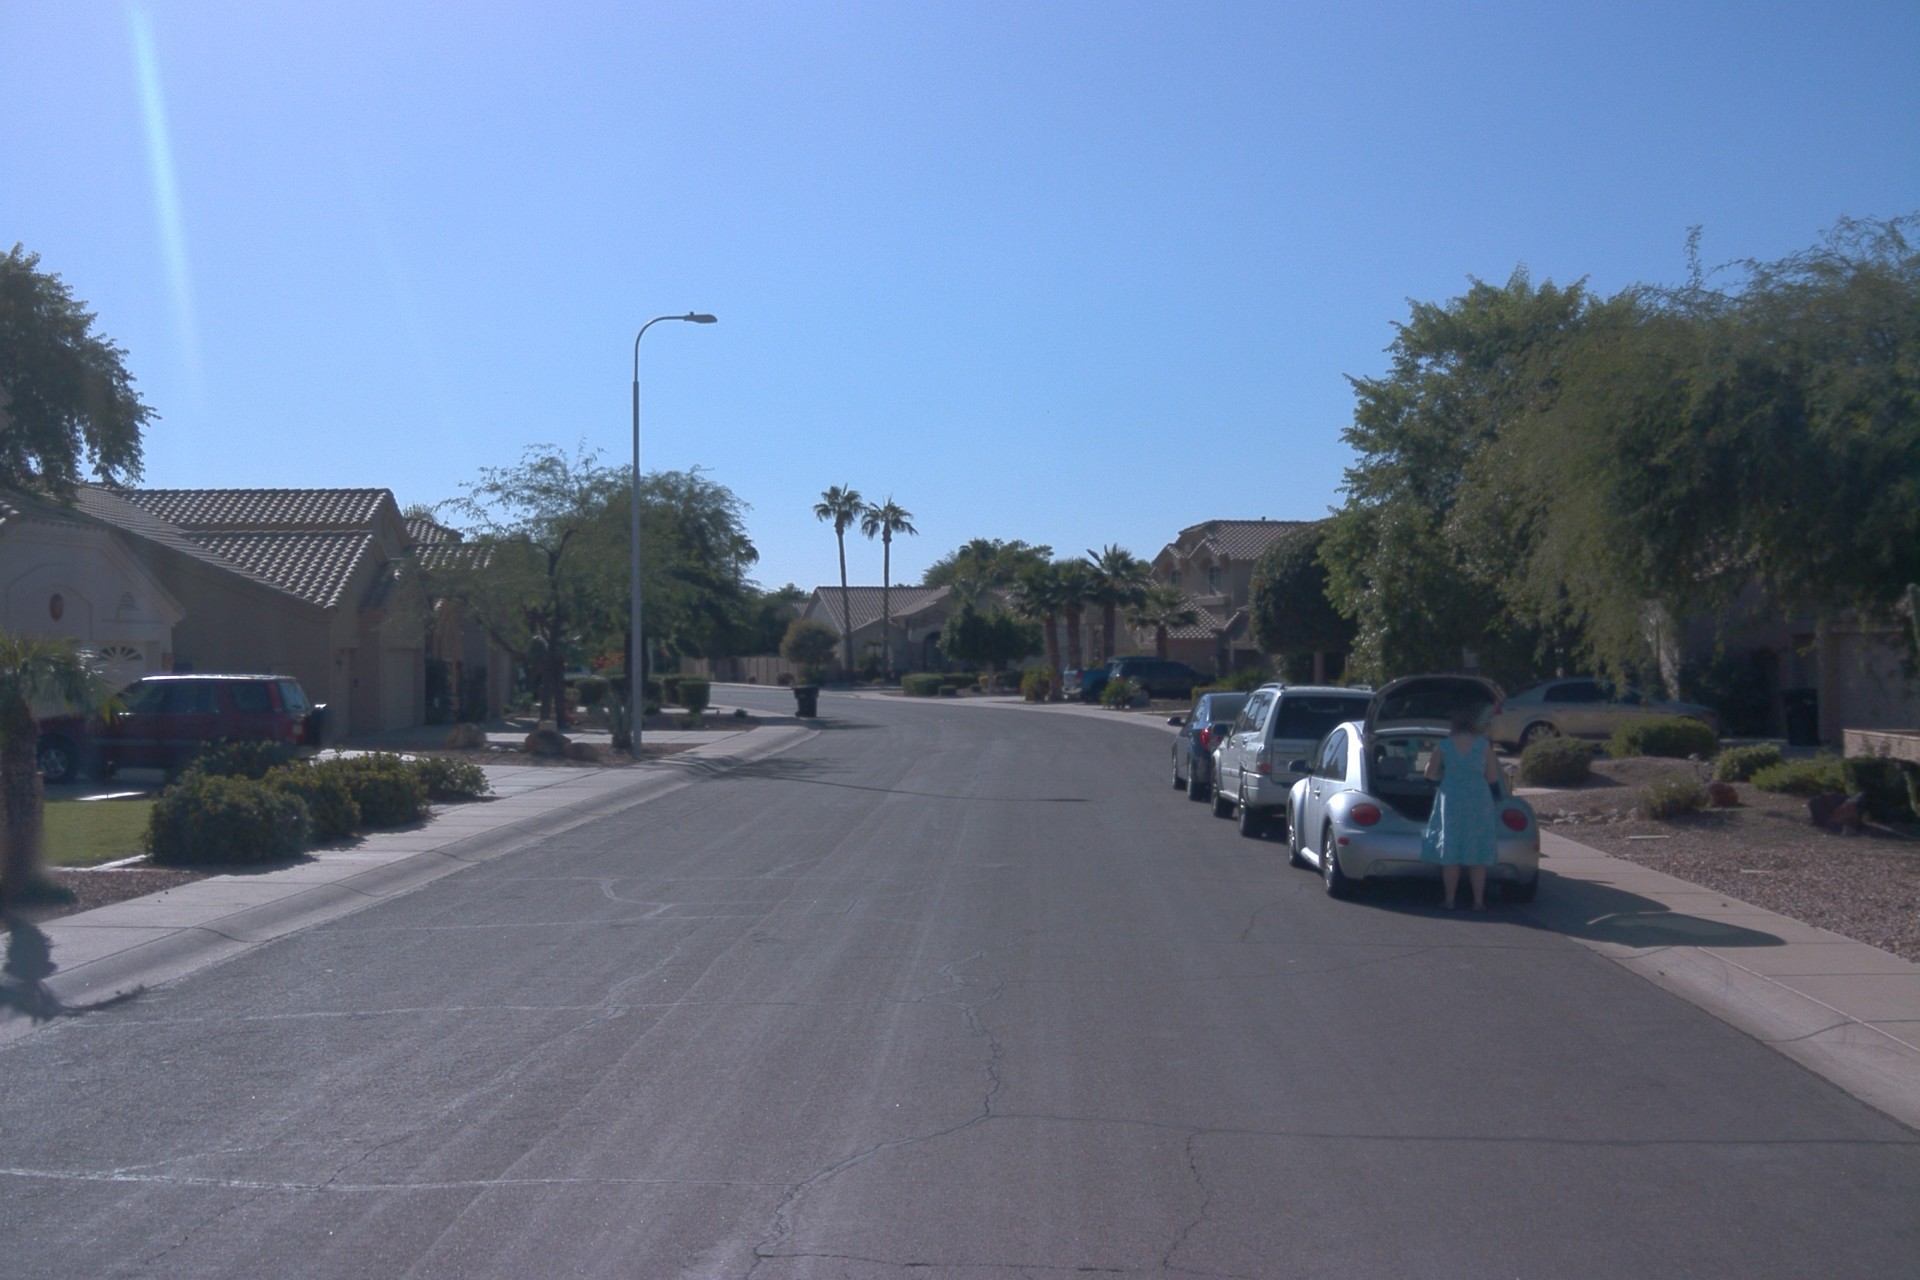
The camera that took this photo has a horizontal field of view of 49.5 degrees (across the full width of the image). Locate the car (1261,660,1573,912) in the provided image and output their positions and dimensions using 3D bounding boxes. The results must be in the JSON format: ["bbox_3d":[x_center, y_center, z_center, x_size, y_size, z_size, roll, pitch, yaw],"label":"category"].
[{"bbox_3d":[3.927,1.185,18.587,1.895,1.980,4.012,0,0,0],"label":"car"}]

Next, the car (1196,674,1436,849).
[{"bbox_3d":[4.024,1.321,24.363,2.103,1.780,4.807,0,0,2],"label":"car"}]

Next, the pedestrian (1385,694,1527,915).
[{"bbox_3d":[3.936,1.287,16.605,0.906,1.690,0.869,0,0,-1],"label":"pedestrian"}]

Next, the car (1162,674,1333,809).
[{"bbox_3d":[4.066,1.395,30.185,1.994,1.750,4.476,0,0,2],"label":"car"}]

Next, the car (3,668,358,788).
[{"bbox_3d":[-11.610,1.284,31.260,4.527,1.720,2.104,0,0,1],"label":"car"}]
